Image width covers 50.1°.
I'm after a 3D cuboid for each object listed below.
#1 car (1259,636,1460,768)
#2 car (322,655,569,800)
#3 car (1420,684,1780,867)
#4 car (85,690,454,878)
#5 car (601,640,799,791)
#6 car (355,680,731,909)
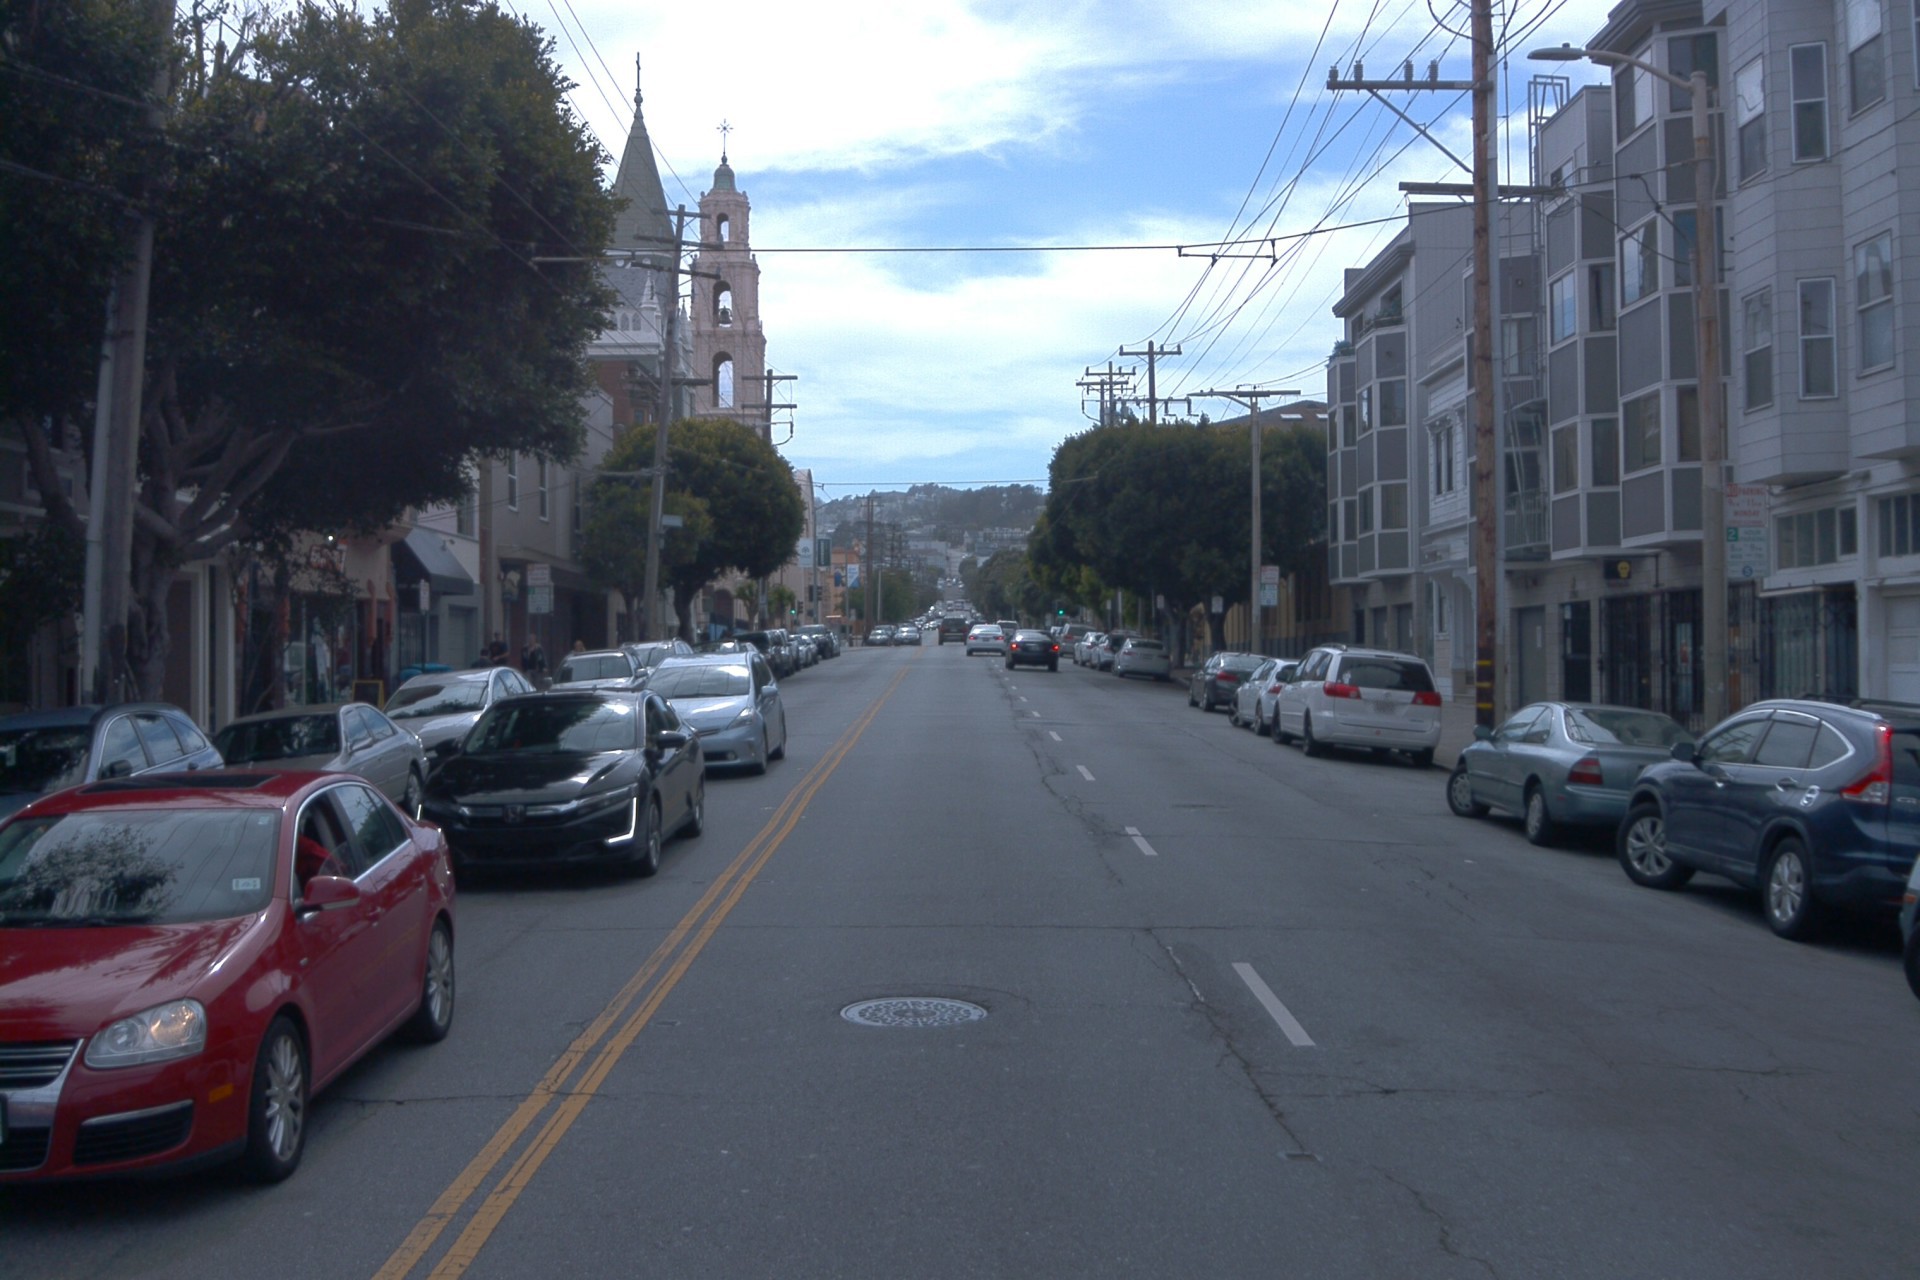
[{"bbox_3d":[6.350,0.921,33.350,2.246,1.890,5.234,0,1,0],"label":"car"},{"bbox_3d":[-6.800,1.094,27.765,2.140,1.670,4.829,0,1,0],"label":"car"},{"bbox_3d":[6.297,1.276,20.906,2.128,1.460,4.770,0,1,0],"label":"car"},{"bbox_3d":[-6.896,1.369,21.196,2.190,1.510,4.881,0,1,0],"label":"car"},{"bbox_3d":[-3.370,0.932,27.516,2.038,1.770,4.474,0,1,1],"label":"car"},{"bbox_3d":[-3.359,1.198,17.609,2.171,1.530,4.626,0,1,2],"label":"car"}]
